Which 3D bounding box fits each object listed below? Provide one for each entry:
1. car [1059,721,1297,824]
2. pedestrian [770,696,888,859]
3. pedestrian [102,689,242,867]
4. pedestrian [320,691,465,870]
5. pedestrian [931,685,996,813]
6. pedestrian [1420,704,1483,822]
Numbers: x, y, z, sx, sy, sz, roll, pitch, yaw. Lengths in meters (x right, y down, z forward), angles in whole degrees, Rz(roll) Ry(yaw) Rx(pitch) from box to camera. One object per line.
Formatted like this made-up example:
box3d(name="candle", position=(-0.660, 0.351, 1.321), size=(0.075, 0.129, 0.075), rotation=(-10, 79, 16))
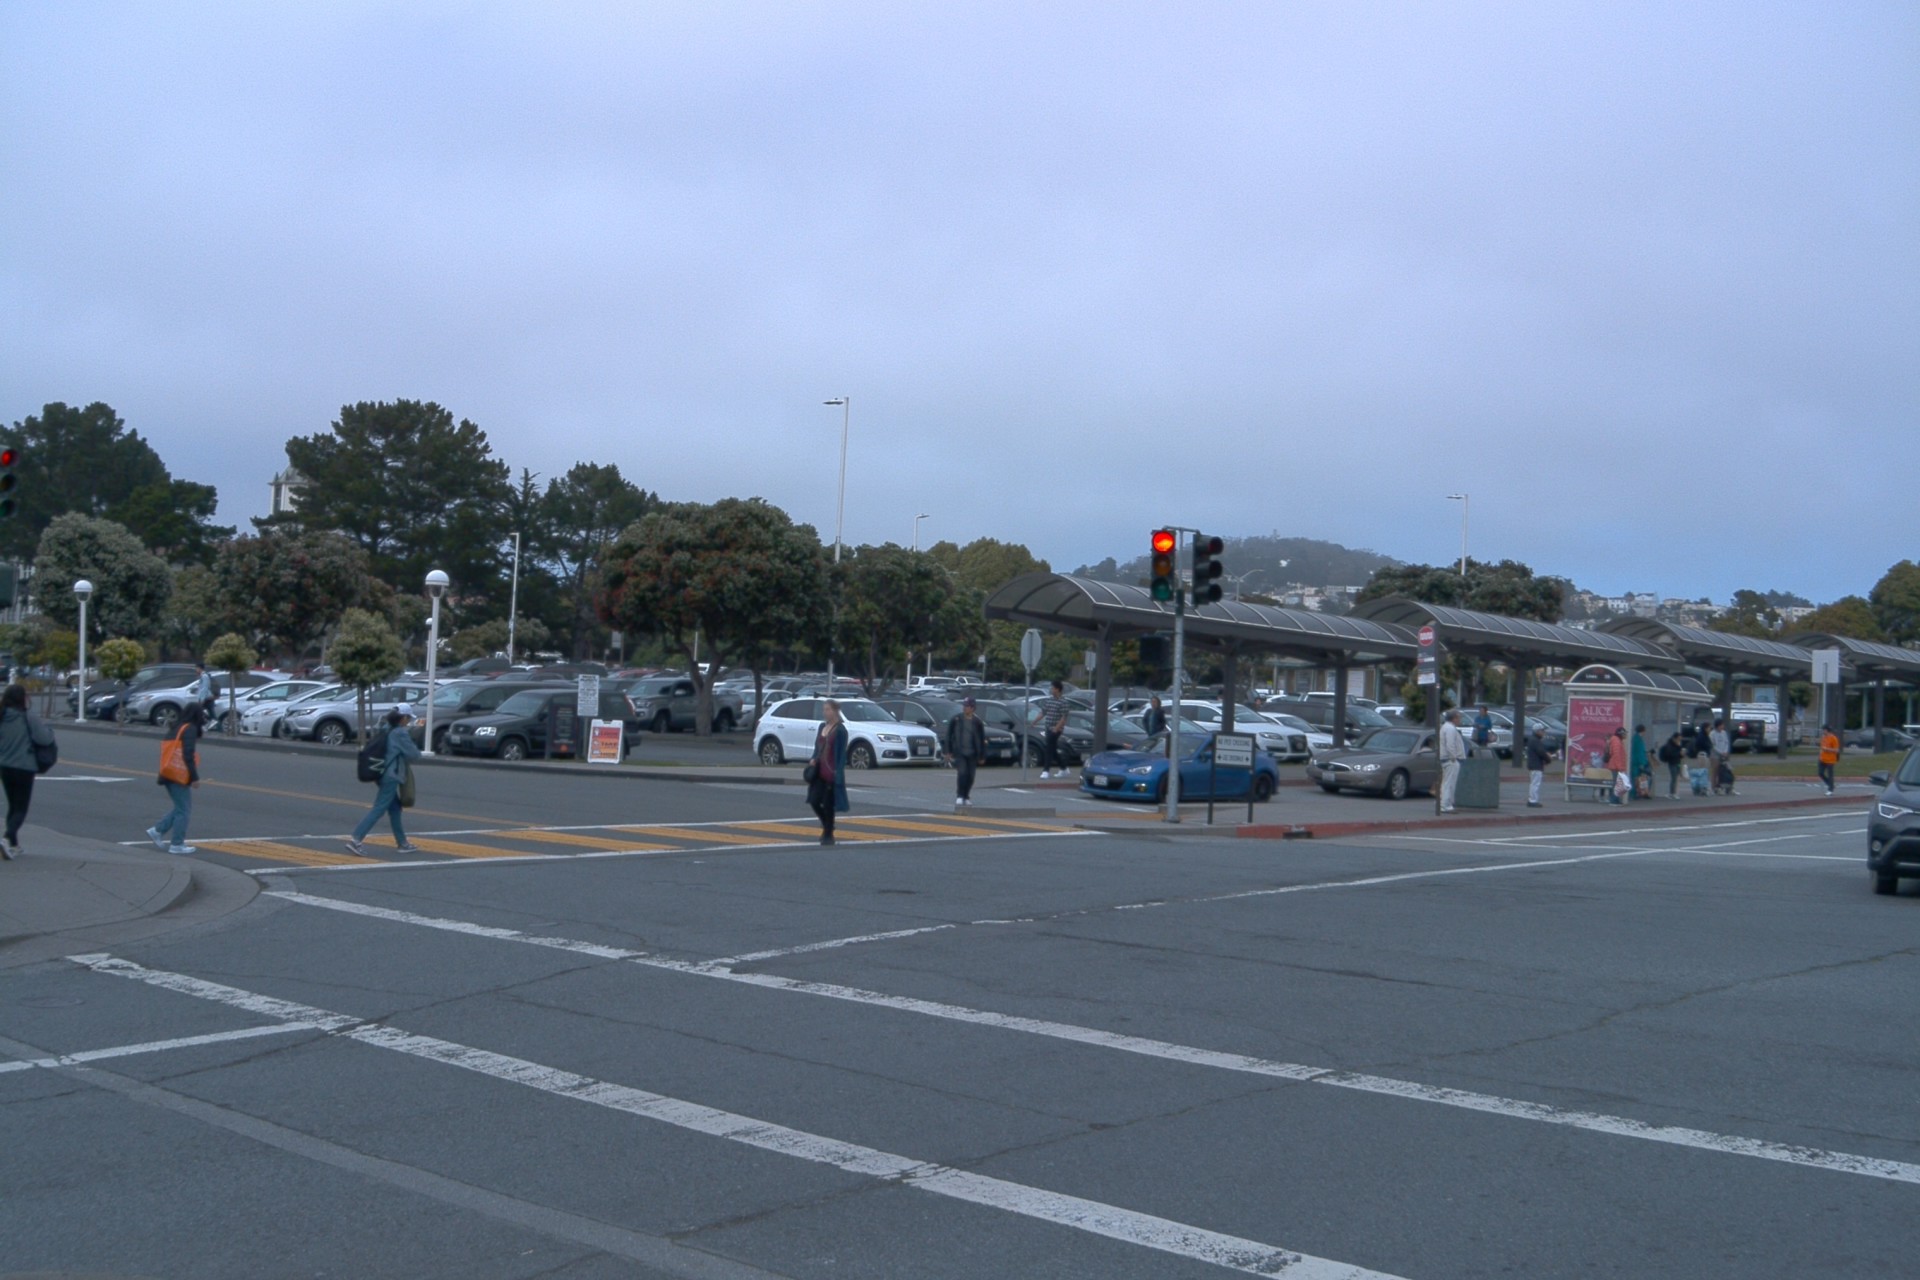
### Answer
box3d(name="car", position=(3.971, 2.329, 37.220), size=(4.281, 1.520, 1.972), rotation=(-1, 1, -44))
box3d(name="pedestrian", position=(-1.521, 1.583, 24.135), size=(0.830, 1.790, 1.157), rotation=(0, 1, 35))
box3d(name="pedestrian", position=(-7.937, 1.366, 20.788), size=(1.112, 1.690, 0.745), rotation=(-1, 1, -42))
box3d(name="pedestrian", position=(-5.814, 1.413, 21.150), size=(1.113, 1.720, 0.928), rotation=(-1, 1, -43))
box3d(name="pedestrian", position=(0.050, 1.717, 32.859), size=(0.868, 1.960, 1.132), rotation=(0, 1, -9))
box3d(name="pedestrian", position=(8.398, 2.085, 35.264), size=(0.848, 1.930, 0.853), rotation=(0, 1, 28))
